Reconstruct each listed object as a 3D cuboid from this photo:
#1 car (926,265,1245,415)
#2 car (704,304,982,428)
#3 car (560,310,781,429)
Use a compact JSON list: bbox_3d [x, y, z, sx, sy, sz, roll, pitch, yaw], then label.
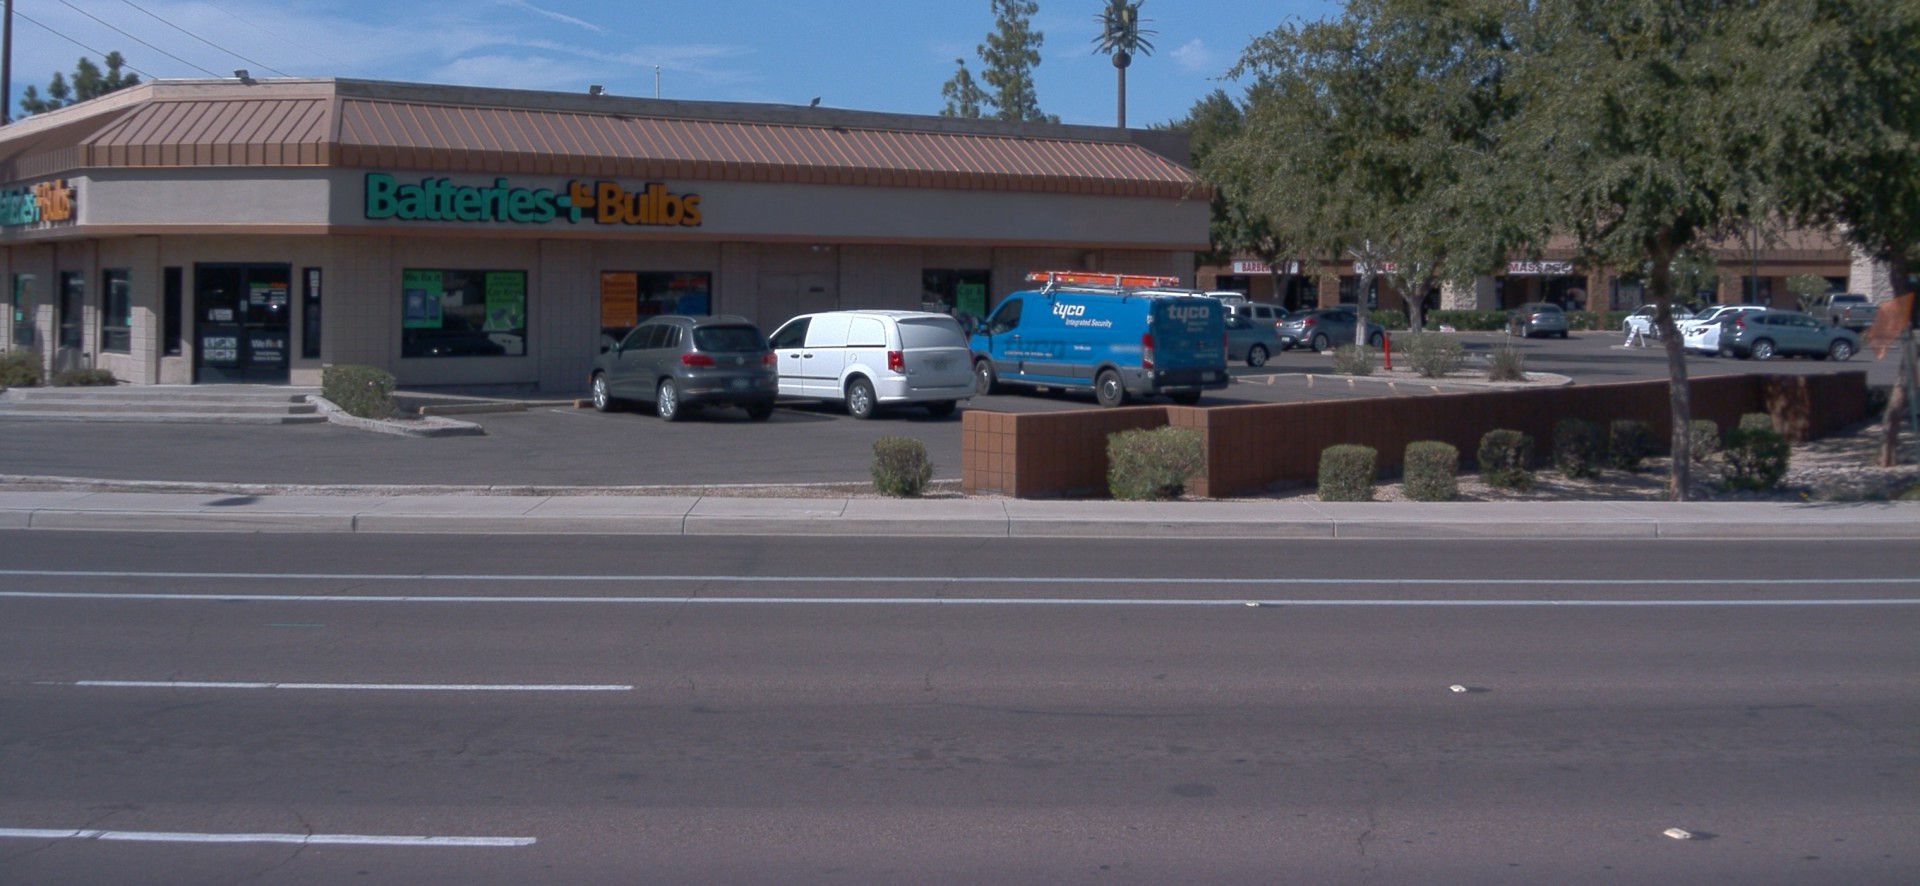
[{"bbox_3d":[2.192,-2.023,38.624,2.658,2.494,6.060,-2,5,-36],"label":"car"},{"bbox_3d":[-2.049,-1.377,35.291,2.099,1.836,4.810,-3,5,-43],"label":"car"},{"bbox_3d":[-4.827,-1.274,34.236,1.956,1.676,4.282,-2,5,-33],"label":"car"}]
